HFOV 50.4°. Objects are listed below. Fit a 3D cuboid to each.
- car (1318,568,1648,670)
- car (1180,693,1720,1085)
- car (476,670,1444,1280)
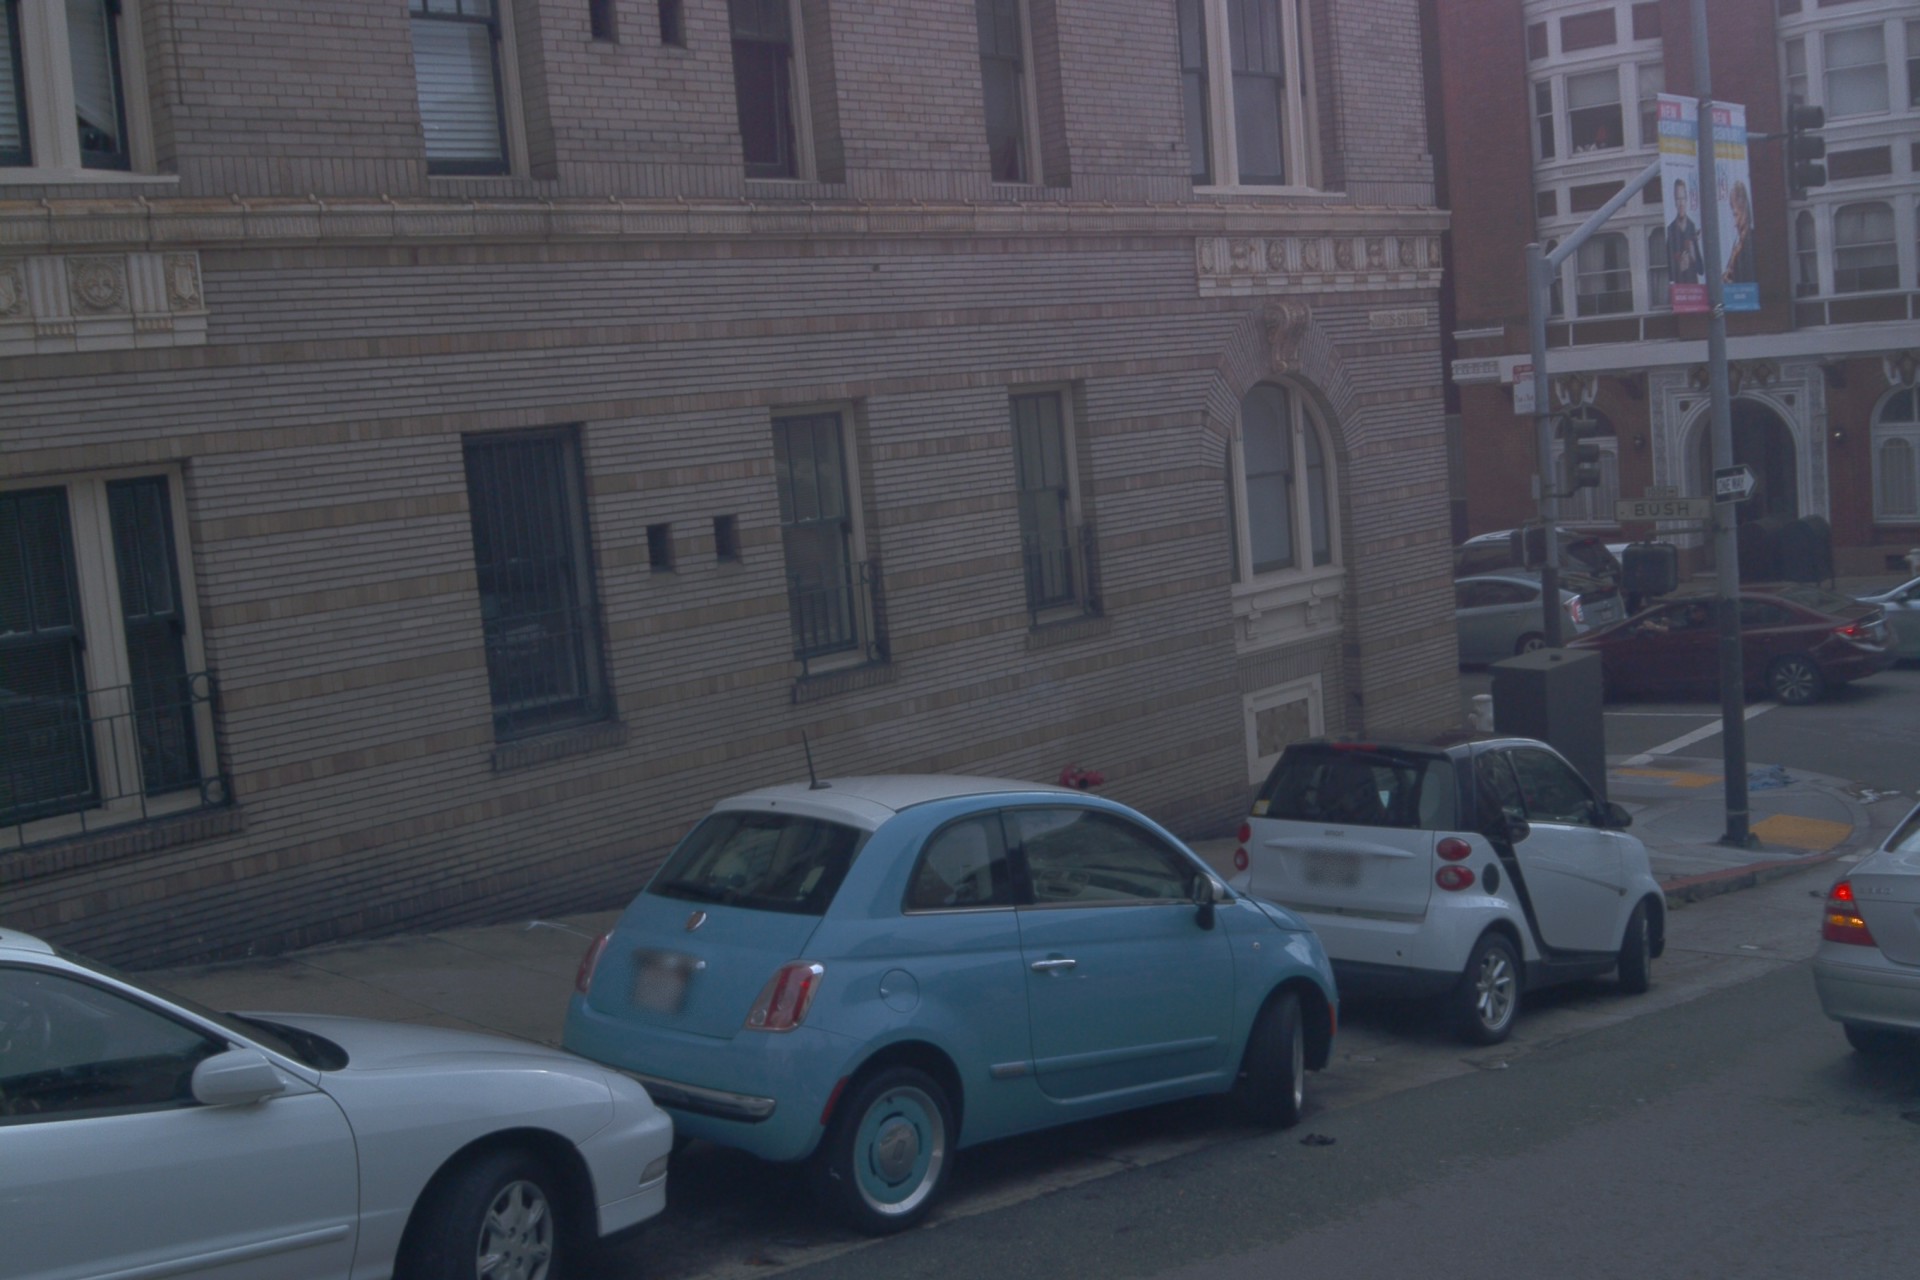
[{"bbox_3d":[8.045,-0.355,31.640,4.500,1.470,2.058,2,1,45],"label":"car"},{"bbox_3d":[2.797,1.232,11.393,1.772,1.740,2.841,2,1,41],"label":"car"},{"bbox_3d":[0.126,1.205,8.274,3.597,2.070,1.854,0,1,-43],"label":"car"}]
